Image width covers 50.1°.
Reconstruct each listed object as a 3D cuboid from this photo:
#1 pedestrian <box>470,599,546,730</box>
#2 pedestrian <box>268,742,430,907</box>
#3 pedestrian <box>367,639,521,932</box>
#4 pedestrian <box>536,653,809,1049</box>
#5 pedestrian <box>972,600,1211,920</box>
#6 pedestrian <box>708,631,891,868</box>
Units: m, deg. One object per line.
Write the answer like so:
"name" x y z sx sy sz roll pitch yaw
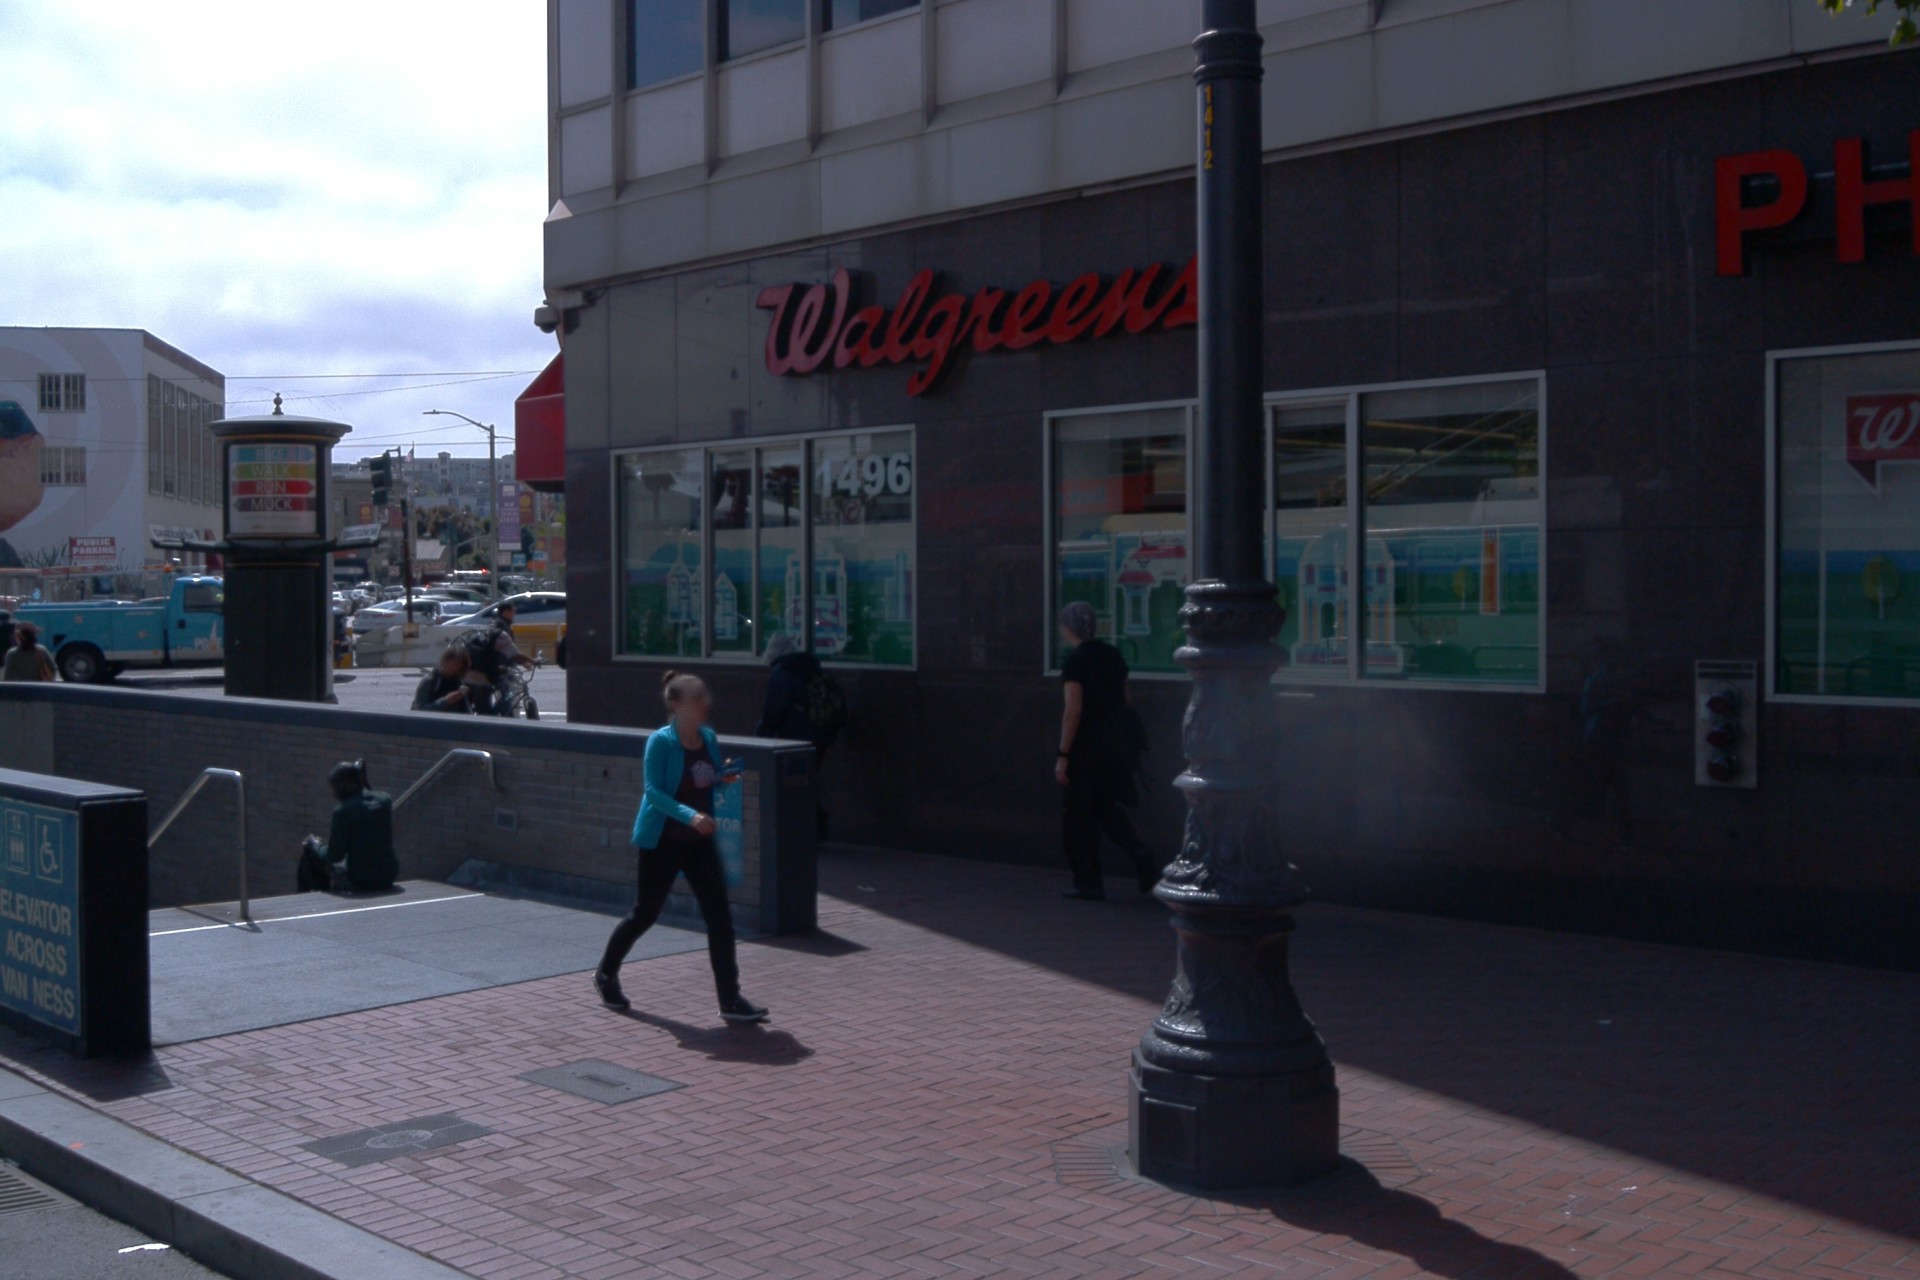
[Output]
"pedestrian" -5.871 0.306 26.694 0.888 1.670 0.848 0 0 -17
"pedestrian" -4.138 1.224 13.905 0.698 1.000 0.907 0 0 -45
"pedestrian" -4.055 1.099 16.149 0.961 2.200 0.775 0 0 44
"pedestrian" -1.366 0.943 9.756 1.058 1.740 0.746 0 0 36
"pedestrian" 0.822 0.708 12.957 0.912 1.900 1.192 0 0 -43
"pedestrian" -1.201 0.776 15.349 0.875 1.680 1.061 0 0 -45
